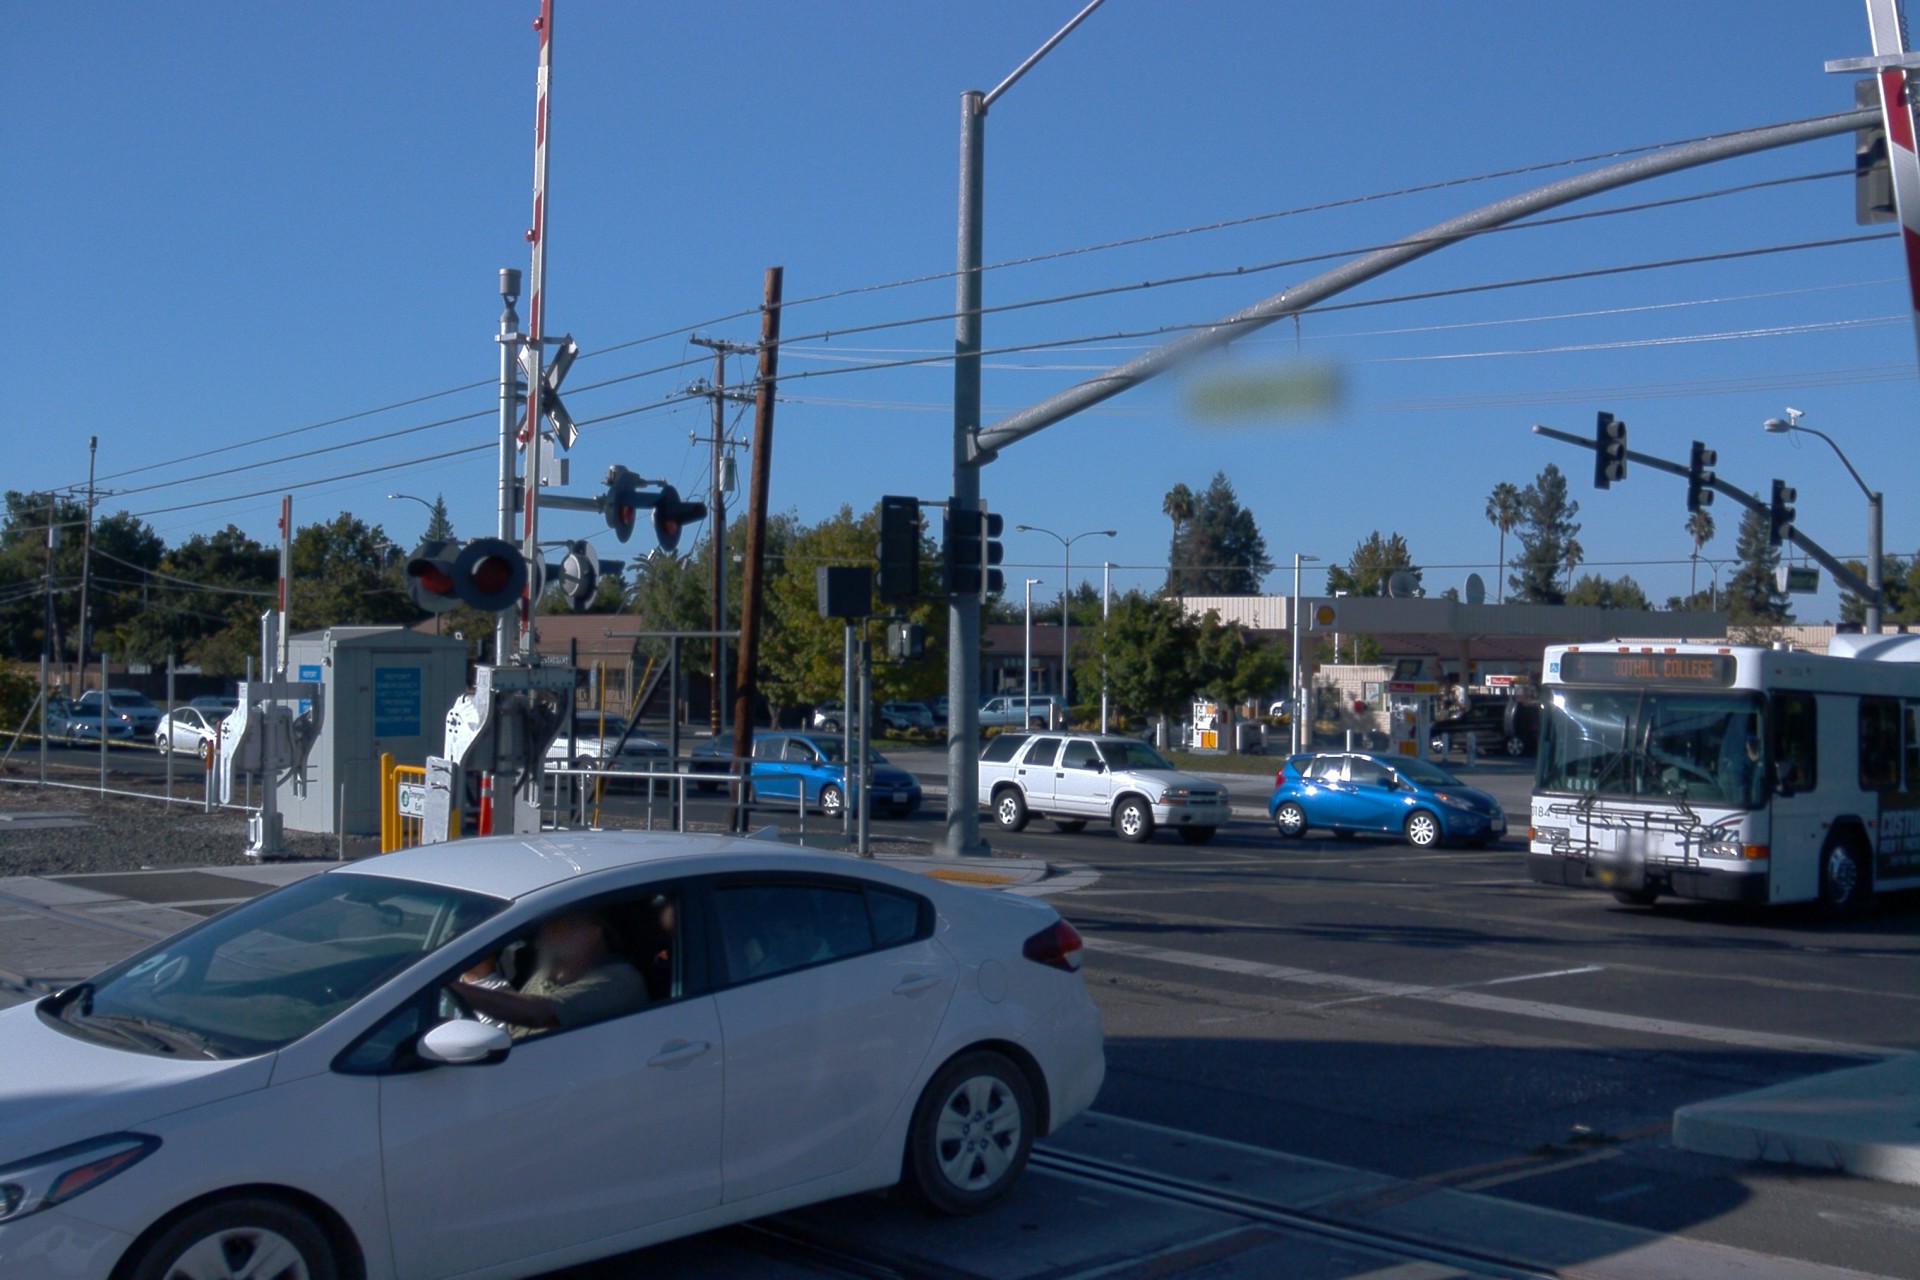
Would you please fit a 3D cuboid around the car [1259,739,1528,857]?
[{"bbox_3d":[7.187,2.577,34.710,1.793,1.670,4.087,1,-1,-44],"label":"car"}]

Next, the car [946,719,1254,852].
[{"bbox_3d":[2.198,2.285,33.804,2.110,1.830,4.847,1,-1,-43],"label":"car"}]

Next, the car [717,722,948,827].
[{"bbox_3d":[-2.415,2.441,38.656,2.086,1.670,4.292,1,-1,-41],"label":"car"}]
